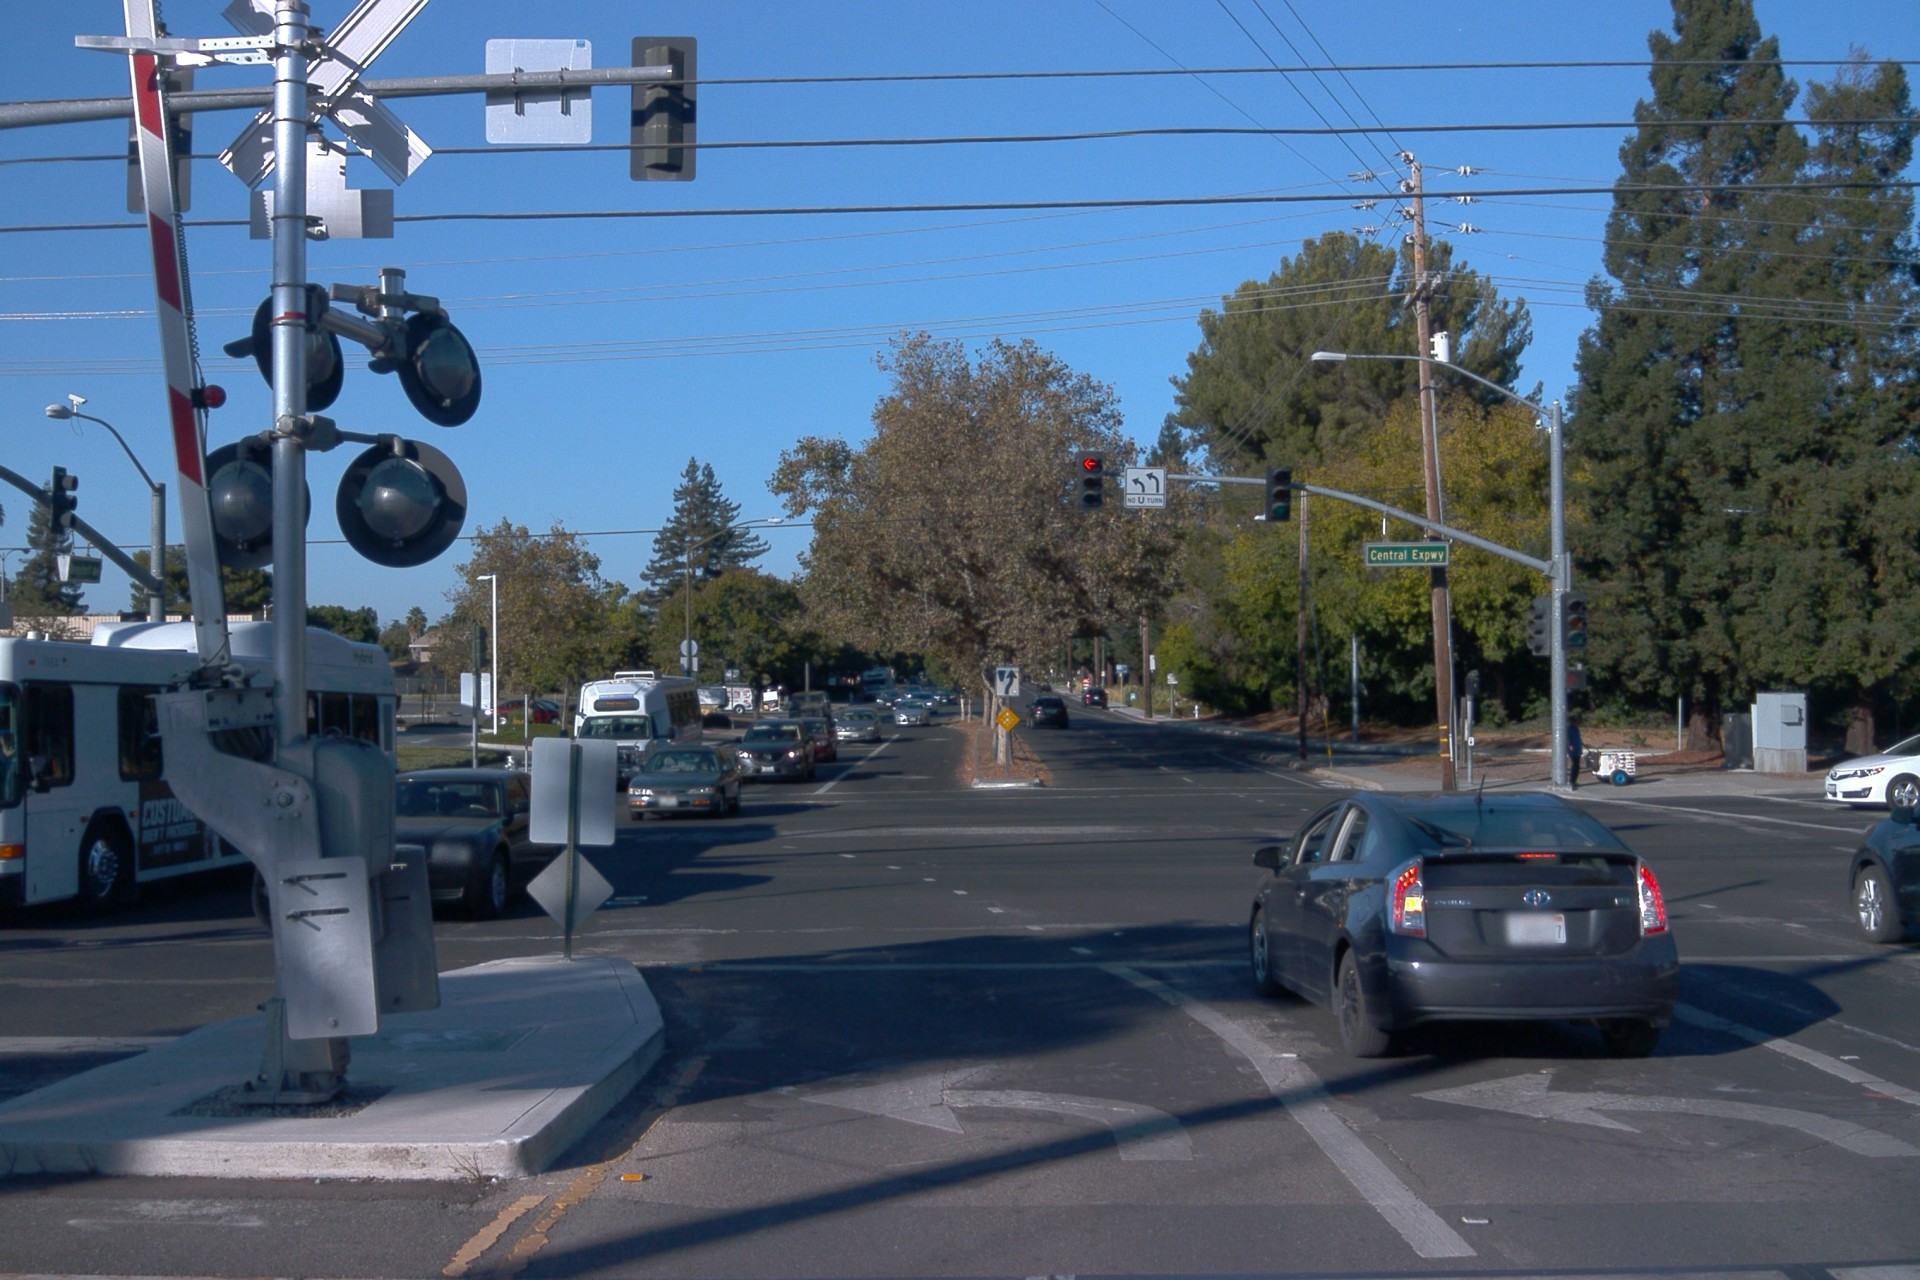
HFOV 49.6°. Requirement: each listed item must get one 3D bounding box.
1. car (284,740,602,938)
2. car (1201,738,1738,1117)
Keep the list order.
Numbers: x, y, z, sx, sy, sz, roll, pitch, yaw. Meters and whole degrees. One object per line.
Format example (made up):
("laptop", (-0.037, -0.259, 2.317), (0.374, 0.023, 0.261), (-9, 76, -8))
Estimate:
("car", (-5.489, 2.072, 22.794), (2.133, 1.690, 4.868), (-1, 0, 2))
("car", (2.918, 1.599, 13.082), (2.060, 1.720, 4.611), (-1, 0, -3))
